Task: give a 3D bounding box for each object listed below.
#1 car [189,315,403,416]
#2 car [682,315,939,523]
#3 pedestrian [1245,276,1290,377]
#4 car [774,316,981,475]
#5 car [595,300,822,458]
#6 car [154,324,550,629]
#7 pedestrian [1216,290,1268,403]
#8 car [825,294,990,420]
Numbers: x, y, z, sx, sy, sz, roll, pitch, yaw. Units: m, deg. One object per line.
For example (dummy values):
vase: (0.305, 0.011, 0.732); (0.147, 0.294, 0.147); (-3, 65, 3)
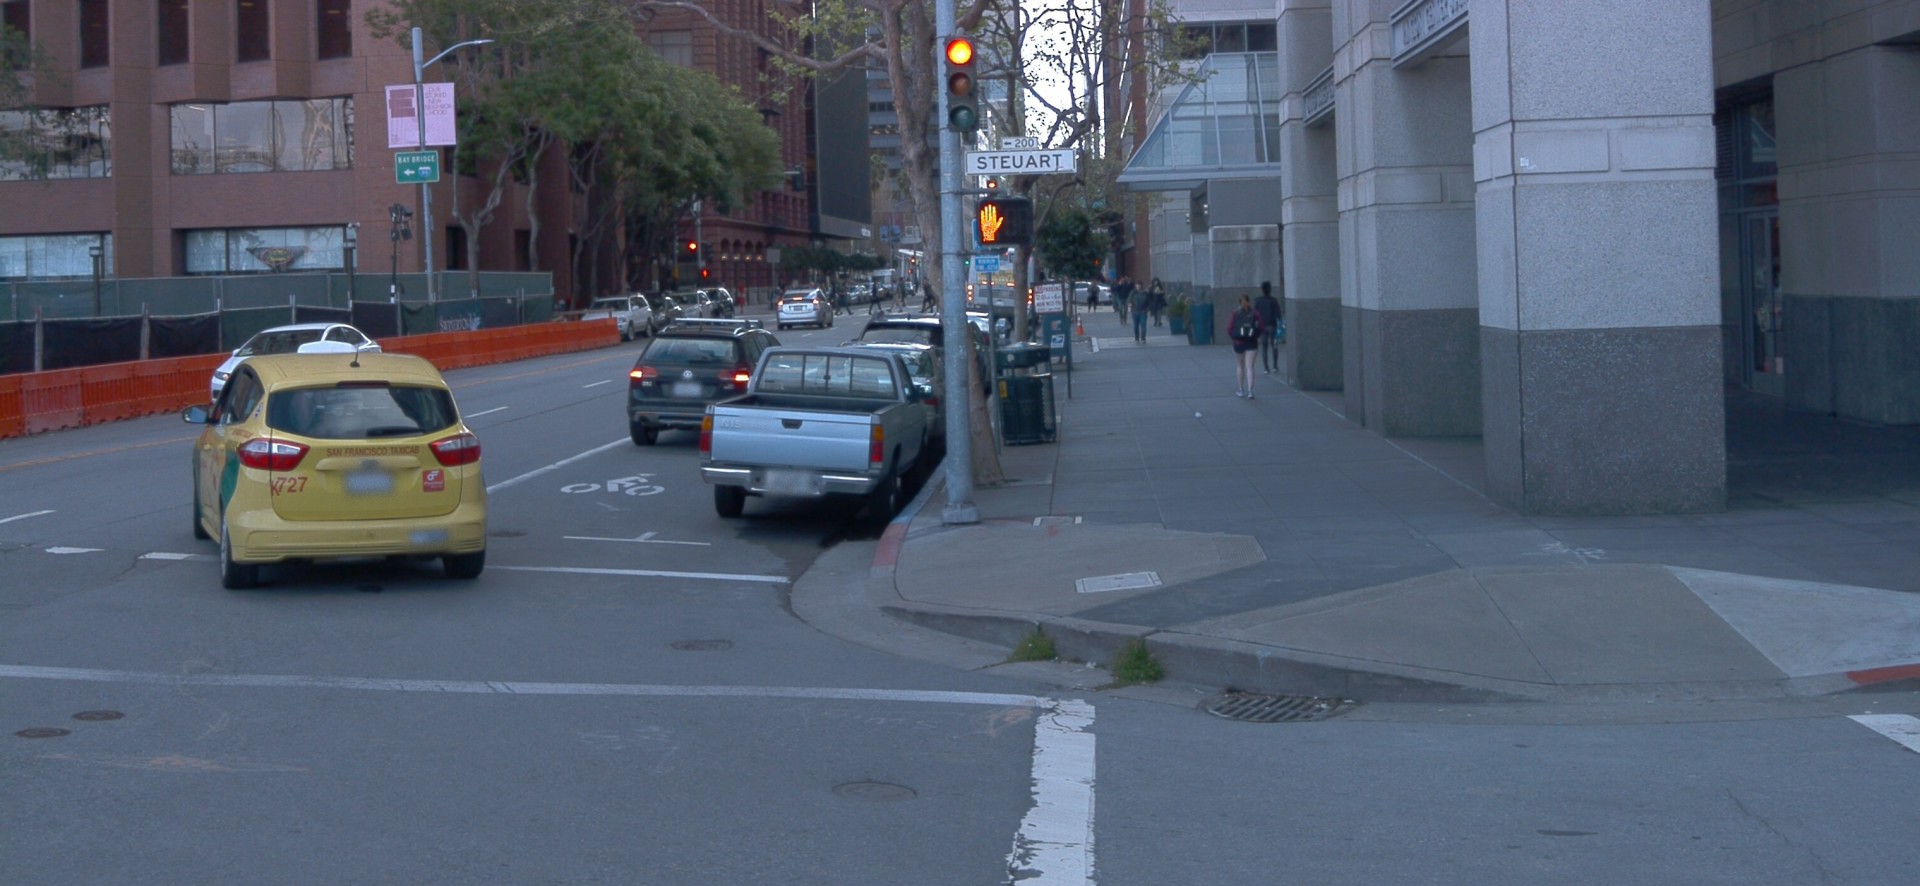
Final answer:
car: (-11.553, -1.420, 36.274); (2.056, 1.494, 4.643); (0, 5, 3)
car: (-1.316, -0.355, 20.183); (1.863, 1.604, 4.695); (0, 5, 4)
pedestrian: (5.618, -2.134, 37.703); (0.713, 1.810, 0.742); (0, 1, 17)
car: (-0.929, -0.692, 26.096); (2.108, 1.654, 4.603); (0, 5, 4)
car: (-3.165, -0.914, 26.875); (2.035, 1.754, 4.228); (0, 5, 6)
car: (-4.835, 0.080, 15.926); (2.181, 1.784, 4.417); (-2, 5, -27)
pedestrian: (4.255, -1.468, 31.185); (0.720, 1.649, 0.900); (0, 1, 5)
car: (-0.722, -1.417, 32.205); (2.261, 1.663, 4.949); (0, 5, 2)
